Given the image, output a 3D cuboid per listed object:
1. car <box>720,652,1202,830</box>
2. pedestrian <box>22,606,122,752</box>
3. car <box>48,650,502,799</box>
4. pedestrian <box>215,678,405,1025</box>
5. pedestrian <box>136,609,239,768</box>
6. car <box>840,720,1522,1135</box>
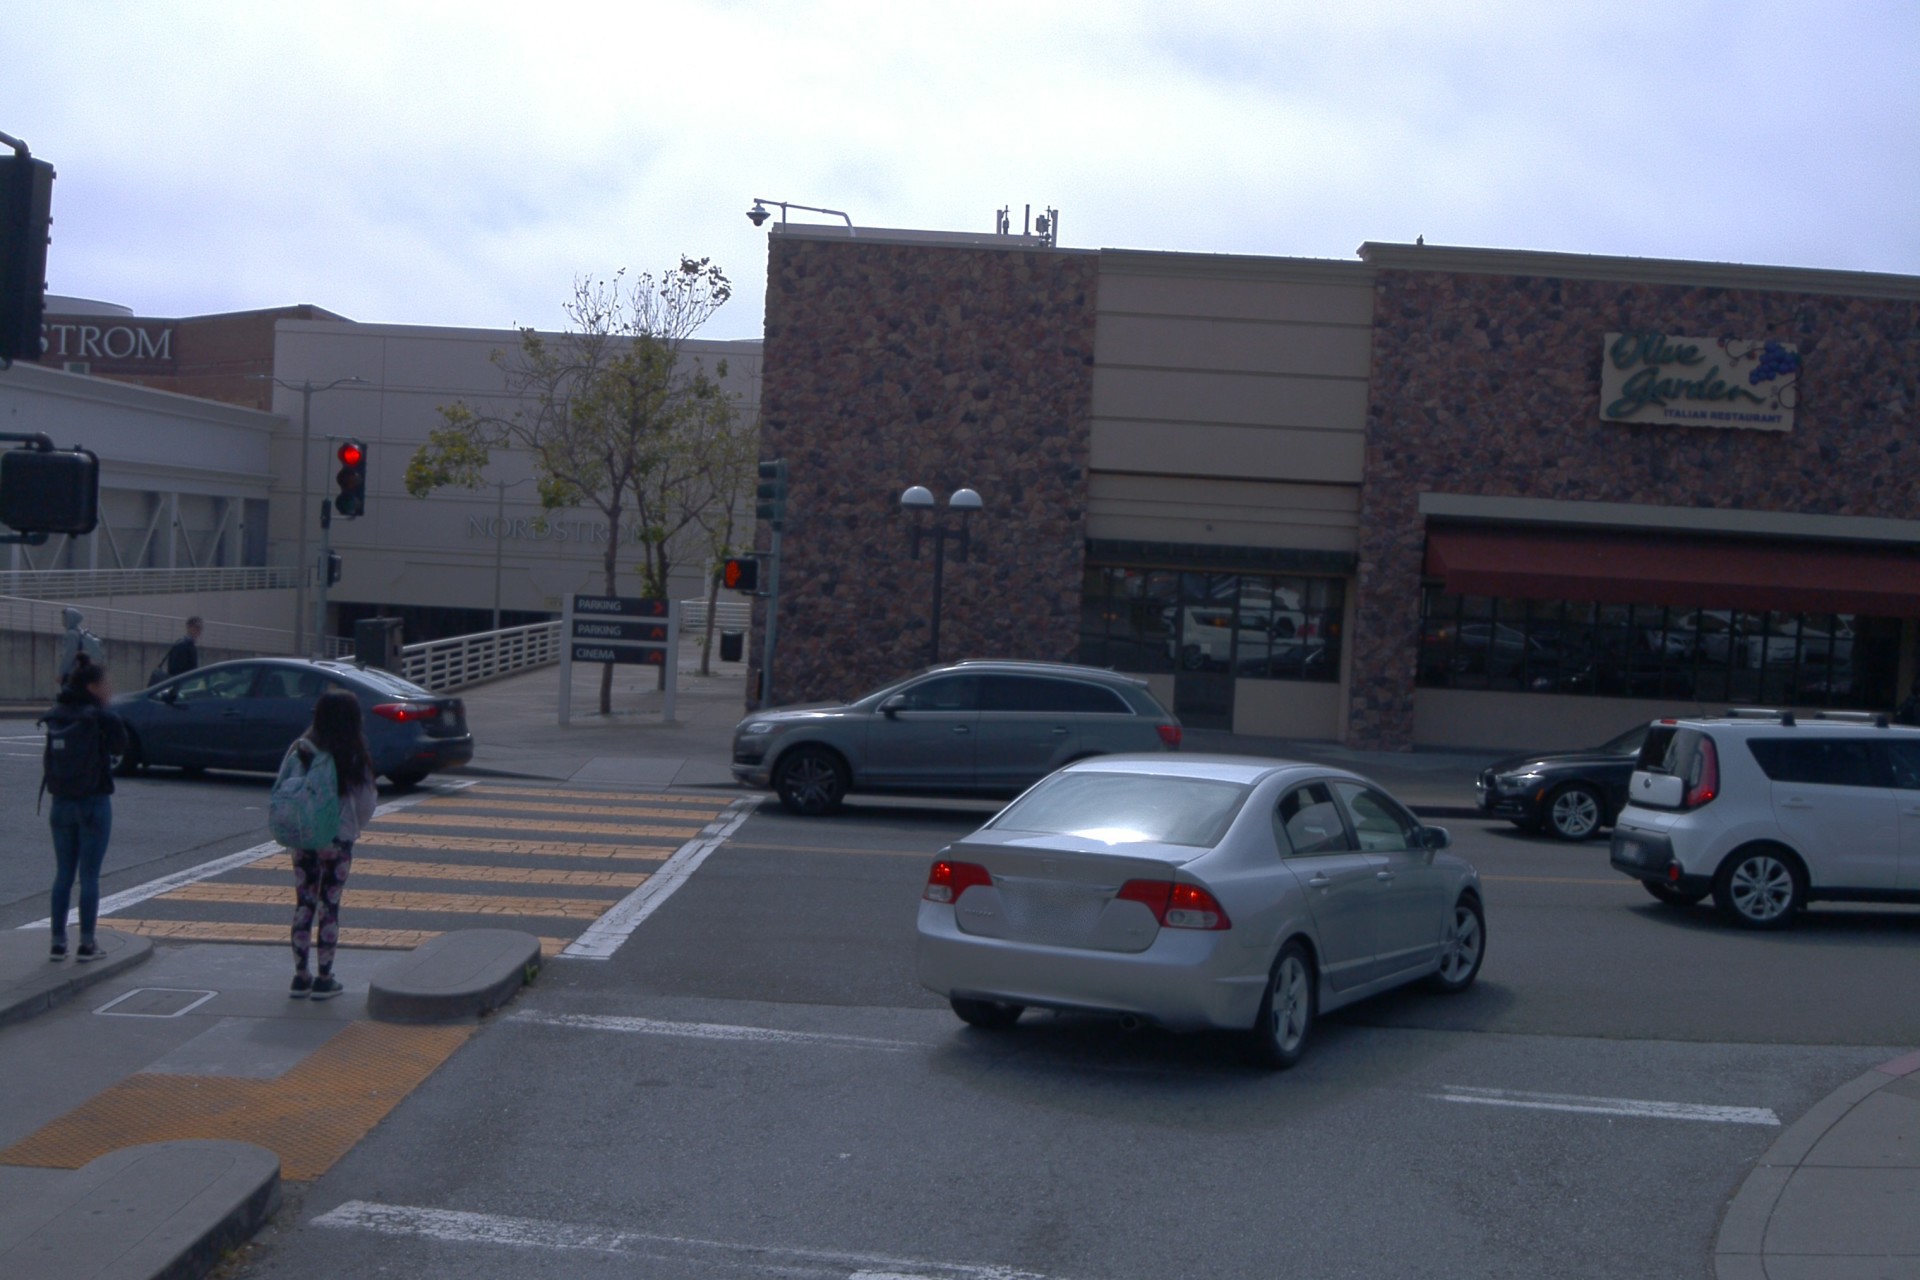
[{"bbox_3d":[-0.002,1.071,22.739,5.062,1.820,2.207,0,1,0],"label":"car"},{"bbox_3d":[-12.105,0.517,28.040,1.042,1.960,0.716,0,1,-1],"label":"pedestrian"},{"bbox_3d":[-7.587,0.895,22.960,4.383,1.520,2.059,0,1,11],"label":"car"},{"bbox_3d":[-3.339,1.051,10.634,0.722,1.680,0.958,0,1,-4],"label":"pedestrian"},{"bbox_3d":[-9.673,0.592,25.772,0.975,1.960,0.861,0,1,-3],"label":"pedestrian"},{"bbox_3d":[1.418,1.317,11.136,2.056,1.520,4.322,0,1,31],"label":"car"}]
